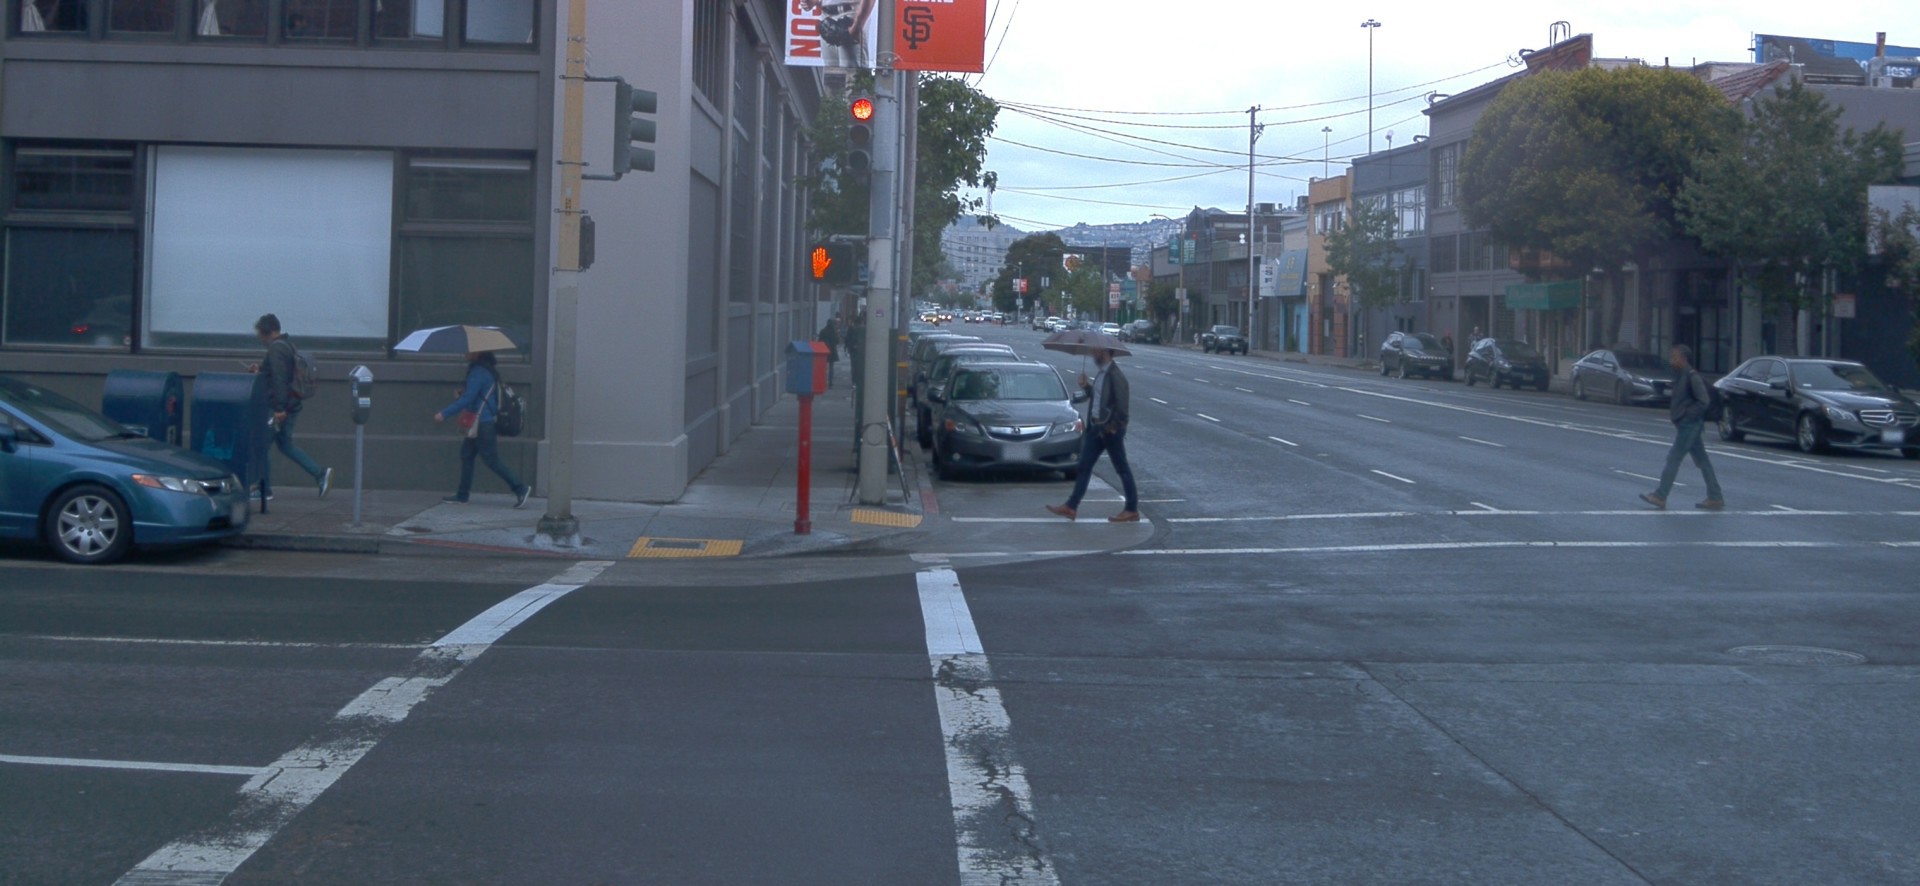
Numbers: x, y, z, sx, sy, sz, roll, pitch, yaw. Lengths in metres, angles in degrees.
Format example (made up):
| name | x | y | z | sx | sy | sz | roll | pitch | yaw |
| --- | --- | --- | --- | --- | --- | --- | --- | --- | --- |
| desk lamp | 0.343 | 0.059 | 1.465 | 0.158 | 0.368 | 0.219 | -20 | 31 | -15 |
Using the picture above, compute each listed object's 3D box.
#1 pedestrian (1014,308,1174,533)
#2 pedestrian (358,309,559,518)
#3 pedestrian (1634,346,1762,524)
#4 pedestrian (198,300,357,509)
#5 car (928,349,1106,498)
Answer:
| name | x | y | z | sx | sy | sz | roll | pitch | yaw |
| --- | --- | --- | --- | --- | --- | --- | --- | --- | --- |
| pedestrian | 1.300 | -0.262 | 20.393 | 1.285 | 2.082 | 1.184 | 0 | 2 | -12 |
| pedestrian | -4.658 | -0.308 | 19.417 | 1.572 | 1.829 | 1.365 | 0 | 2 | -2 |
| pedestrian | 7.432 | -0.105 | 20.941 | 1.015 | 1.679 | 1.004 | 0 | 2 | 7 |
| pedestrian | -6.223 | -0.378 | 18.980 | 1.131 | 1.819 | 1.033 | 0 | 1 | -2 |
| car | 0.620 | -0.325 | 26.065 | 2.020 | 1.454 | 4.437 | 0 | 5 | -1 |
